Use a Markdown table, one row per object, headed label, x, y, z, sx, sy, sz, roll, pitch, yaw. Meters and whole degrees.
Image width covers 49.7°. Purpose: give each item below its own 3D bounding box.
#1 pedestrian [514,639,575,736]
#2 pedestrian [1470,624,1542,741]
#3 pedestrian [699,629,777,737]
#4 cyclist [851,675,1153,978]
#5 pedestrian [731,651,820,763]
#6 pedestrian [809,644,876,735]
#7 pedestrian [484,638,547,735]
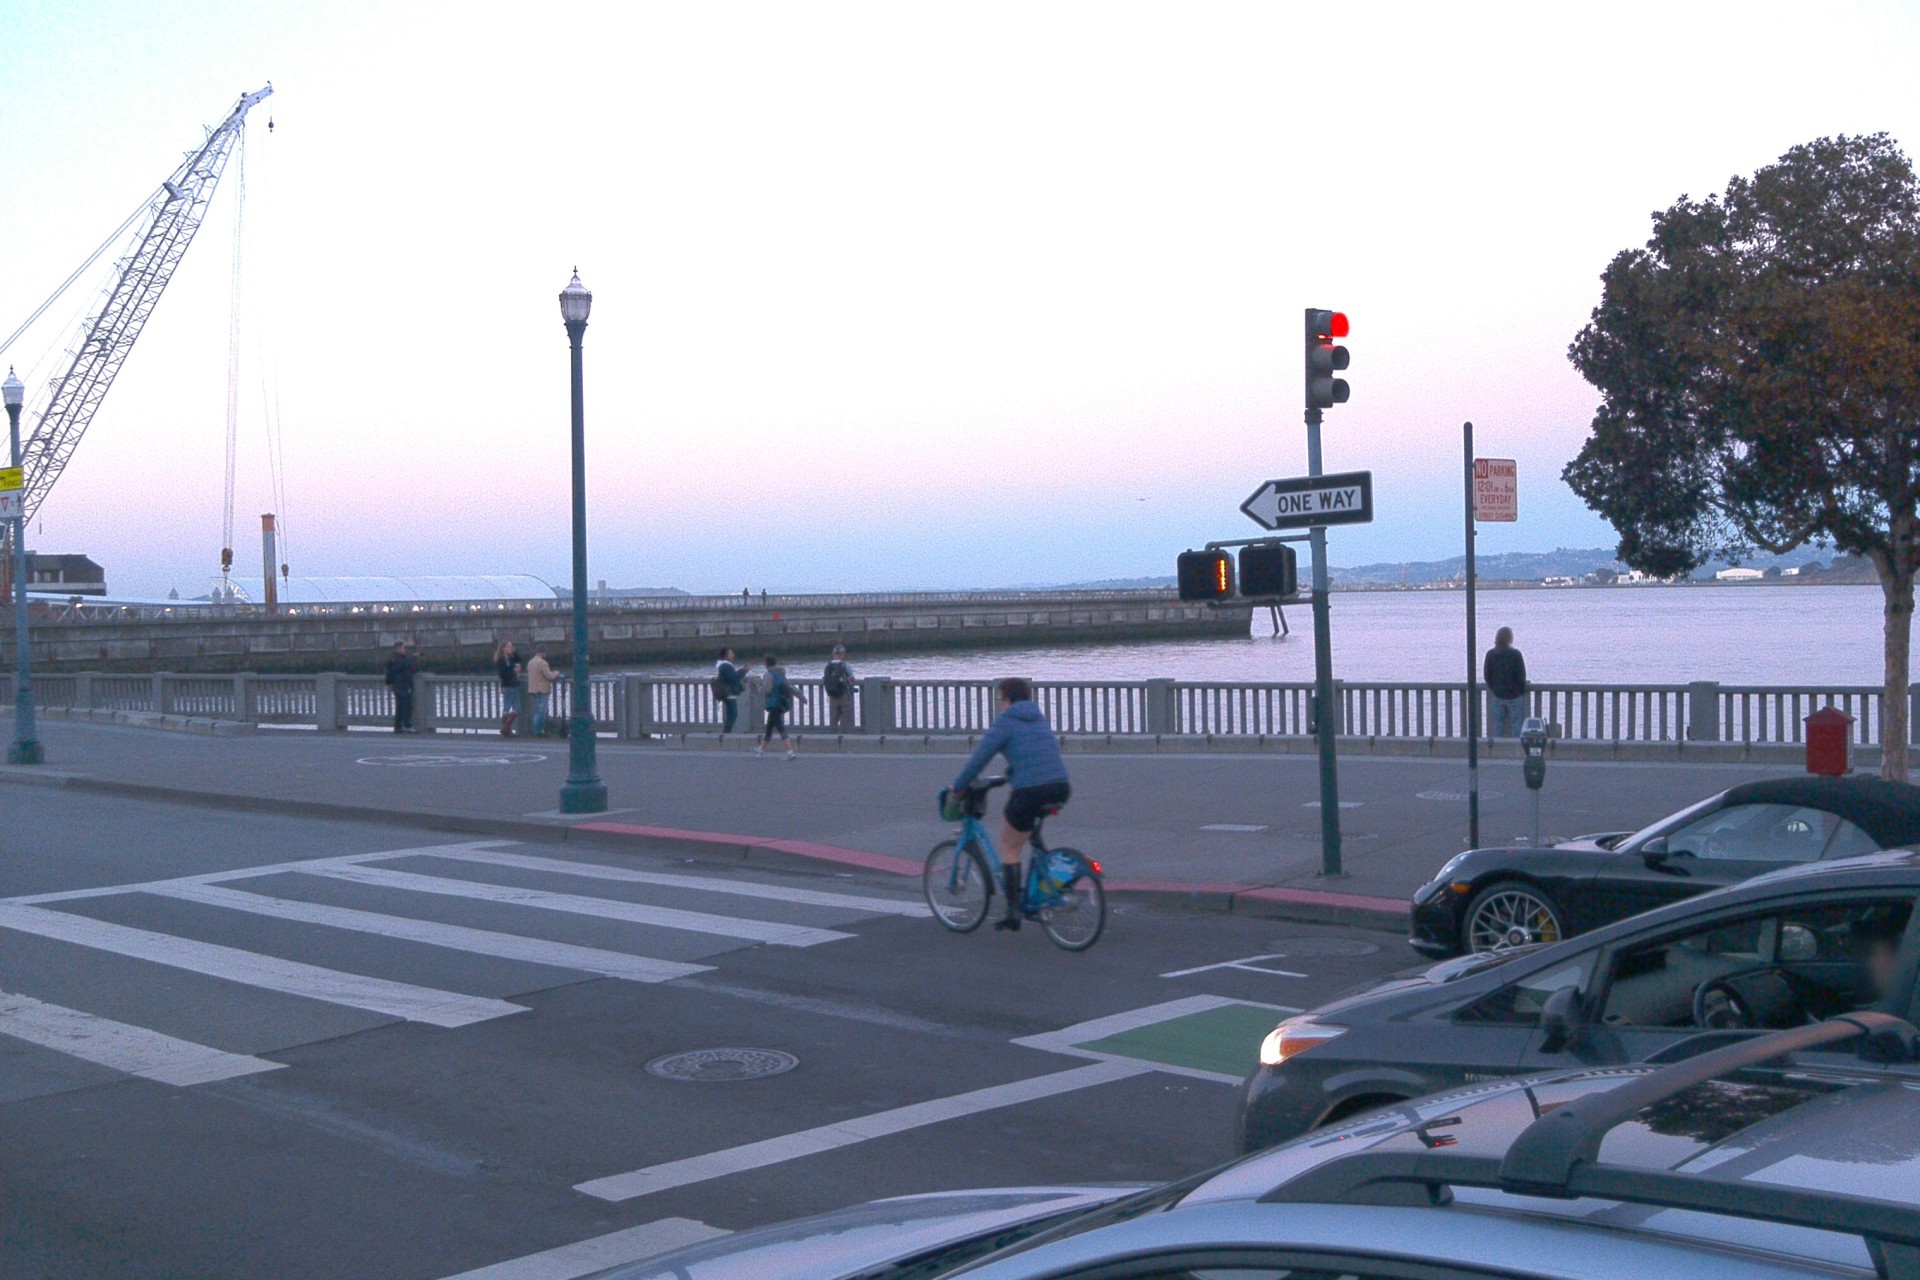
| label | x | y | z | sx | sy | sz | roll | pitch | yaw |
| --- | --- | --- | --- | --- | --- | --- | --- | --- | --- |
| pedestrian | -7.380 | 0.834 | 36.850 | 0.753 | 1.710 | 0.745 | 0 | 0 | 33 |
| pedestrian | 7.209 | 0.554 | 27.360 | 0.751 | 1.510 | 0.681 | 0 | 0 | 33 |
| pedestrian | -3.544 | 0.681 | 33.086 | 0.867 | 1.680 | 0.881 | 0 | 0 | -42 |
| cyclist | 0.248 | 1.175 | 13.922 | 0.867 | 1.860 | 2.038 | 0 | 0 | -42 |
| pedestrian | -2.668 | 0.955 | 29.975 | 0.983 | 1.580 | 0.827 | 0 | 0 | 28 |
| pedestrian | -1.840 | 0.774 | 32.658 | 0.791 | 1.400 | 0.928 | 0 | 0 | 16 |
| pedestrian | -7.972 | 0.827 | 37.196 | 0.731 | 1.710 | 0.825 | 0 | 0 | 38 |
